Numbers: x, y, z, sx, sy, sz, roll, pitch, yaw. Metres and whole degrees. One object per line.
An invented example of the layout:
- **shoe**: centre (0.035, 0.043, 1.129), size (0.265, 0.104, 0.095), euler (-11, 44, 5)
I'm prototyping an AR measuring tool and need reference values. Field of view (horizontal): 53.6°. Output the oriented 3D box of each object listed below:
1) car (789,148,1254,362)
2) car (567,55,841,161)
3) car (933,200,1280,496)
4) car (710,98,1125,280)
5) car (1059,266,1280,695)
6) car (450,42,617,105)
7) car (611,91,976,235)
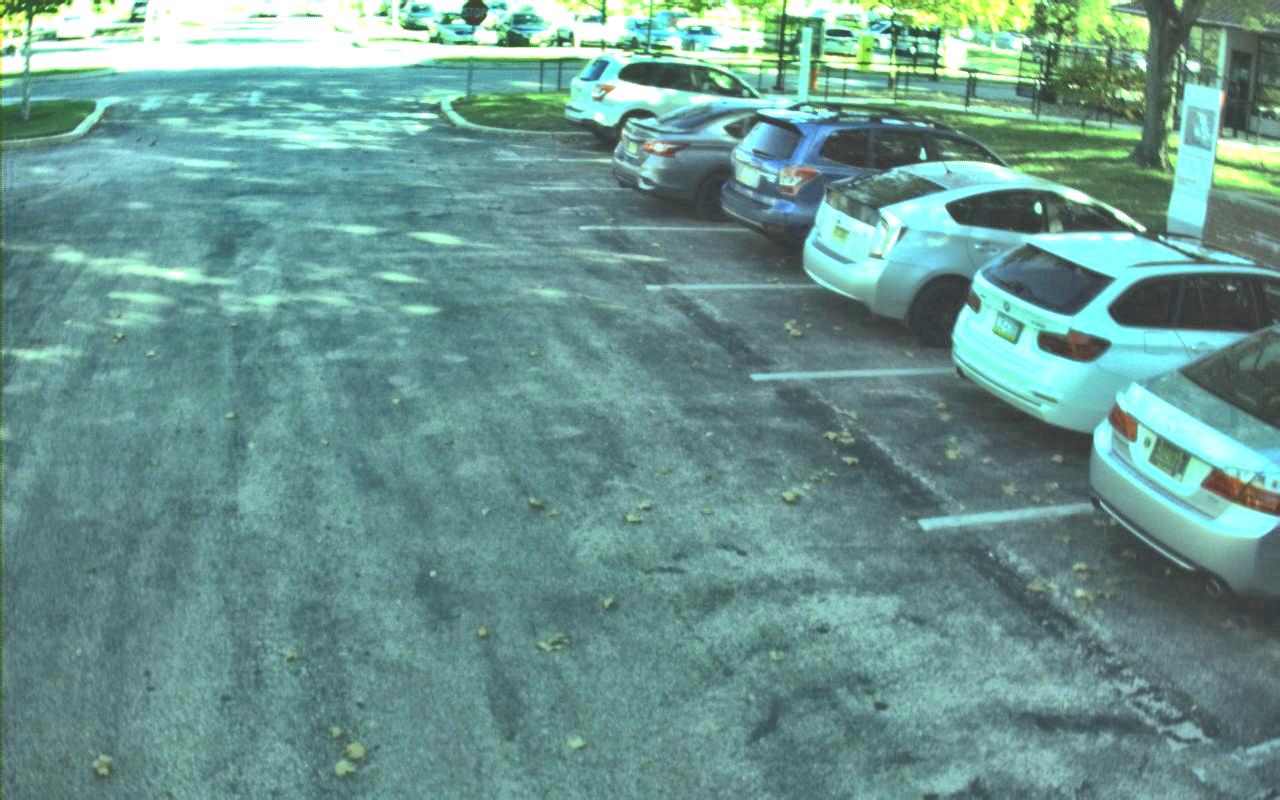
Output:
- **car**: centre (3.711, -1.521, 11.513), size (4.268, 1.561, 1.888), euler (-5, 17, -14)
- **car**: centre (1.124, -5.228, 21.923), size (4.463, 1.671, 1.953), euler (-6, 17, -17)
- **car**: centre (4.579, -0.604, 9.011), size (4.337, 1.575, 1.919), euler (-6, 17, -16)
- **car**: centre (3.197, -2.513, 13.888), size (4.431, 1.700, 1.950), euler (-6, 17, -17)
- **car**: centre (4.846, 0.235, 6.541), size (4.429, 1.549, 1.925), euler (-5, 17, -14)
- **car**: centre (-3.244, -9.795, 36.894), size (4.792, 1.642, 2.016), euler (-5, 17, -12)
- **car**: centre (2.023, -3.205, 16.299), size (4.430, 1.560, 1.941), euler (-6, 17, -16)
